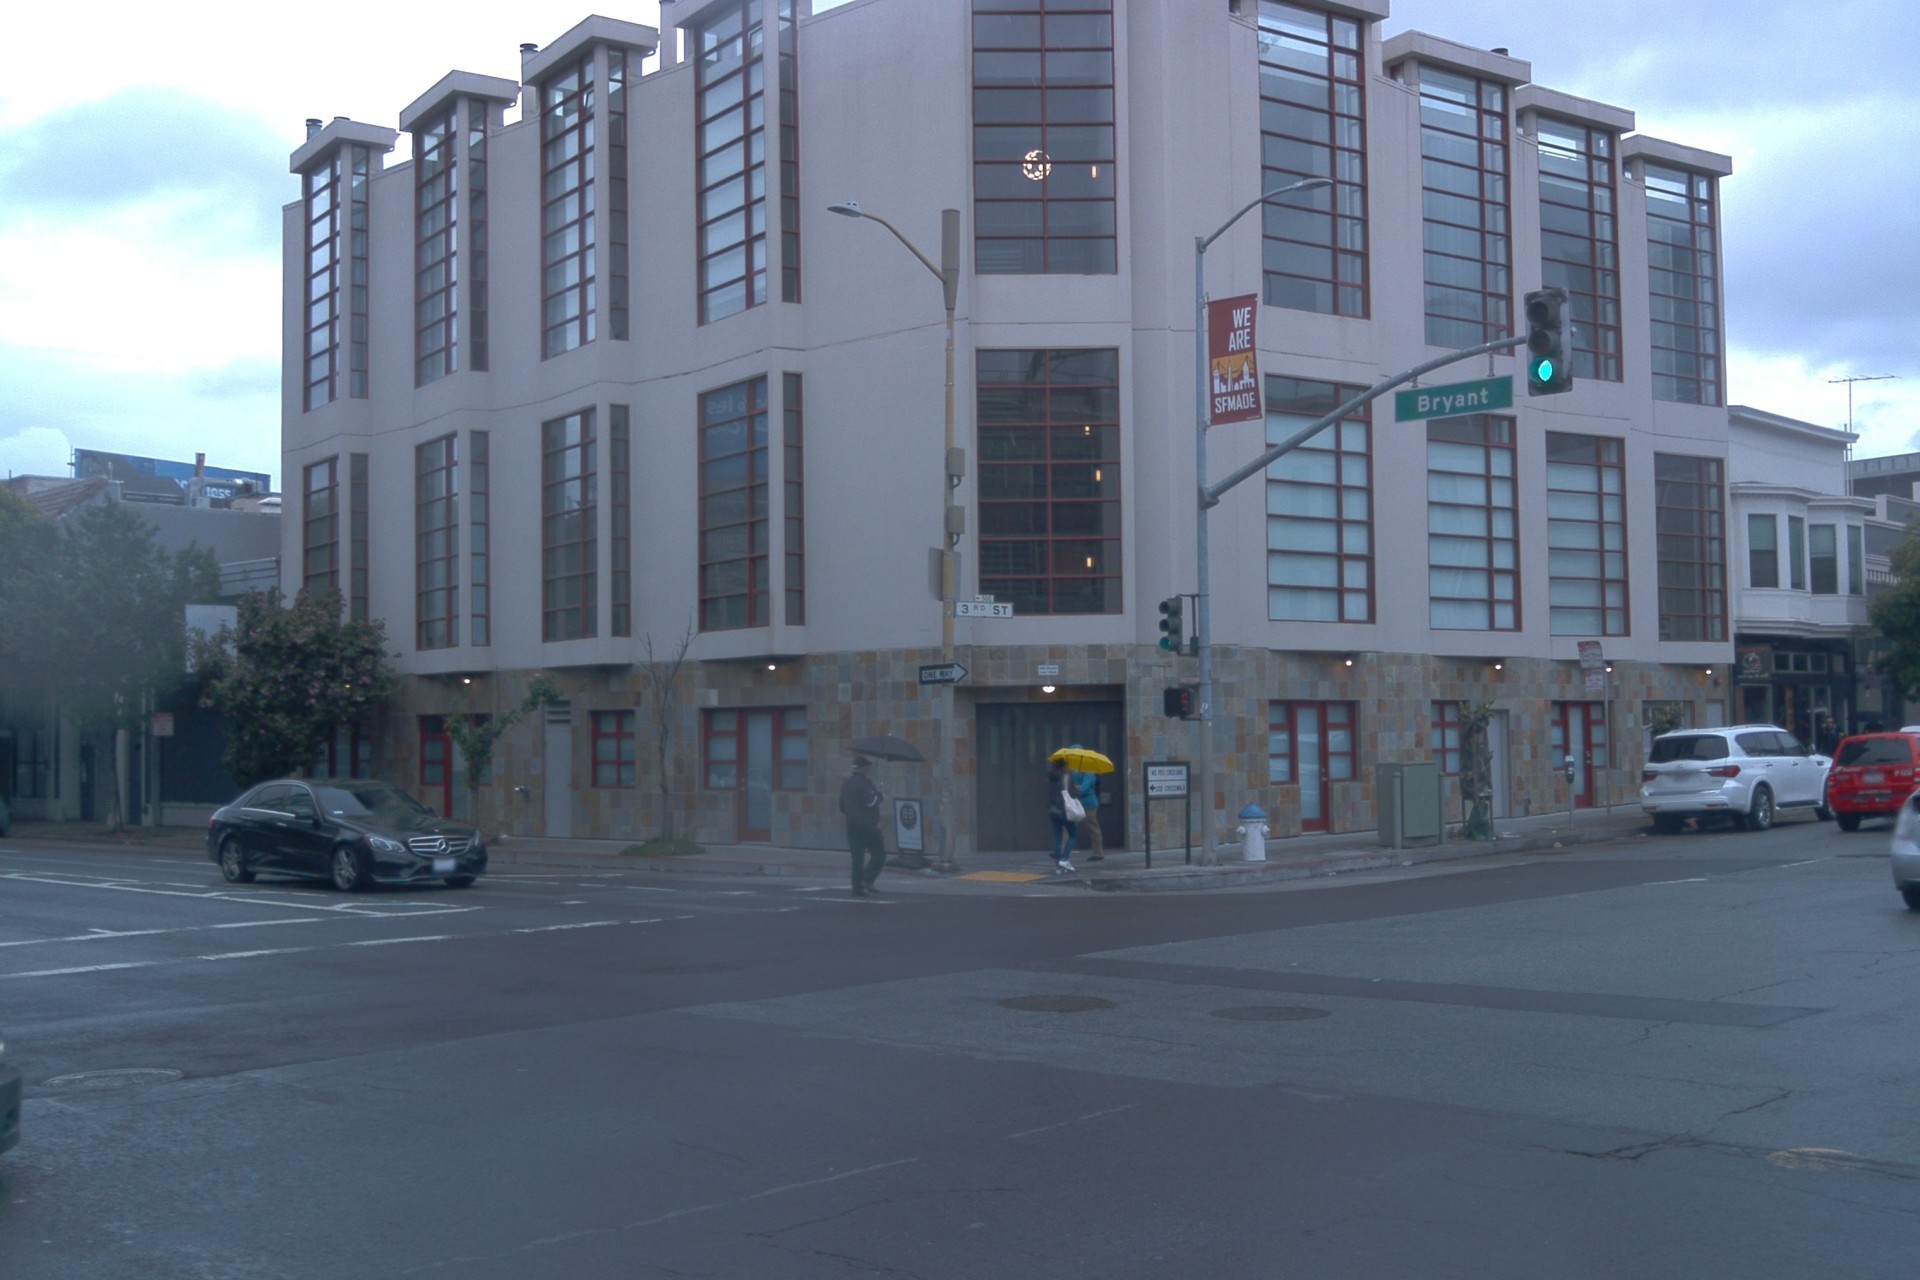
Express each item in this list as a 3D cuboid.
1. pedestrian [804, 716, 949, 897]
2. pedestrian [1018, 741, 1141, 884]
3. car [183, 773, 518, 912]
[{"bbox_3d":[-1.031,2.032,25.844,1.228,2.110,1.342,0,0,37],"label":"pedestrian"},{"bbox_3d":[1.675,2.379,29.122,1.137,1.860,1.361,0,0,38],"label":"pedestrian"},{"bbox_3d":[-8.311,2.659,28.130,4.852,1.410,2.145,0,0,43],"label":"car"}]
